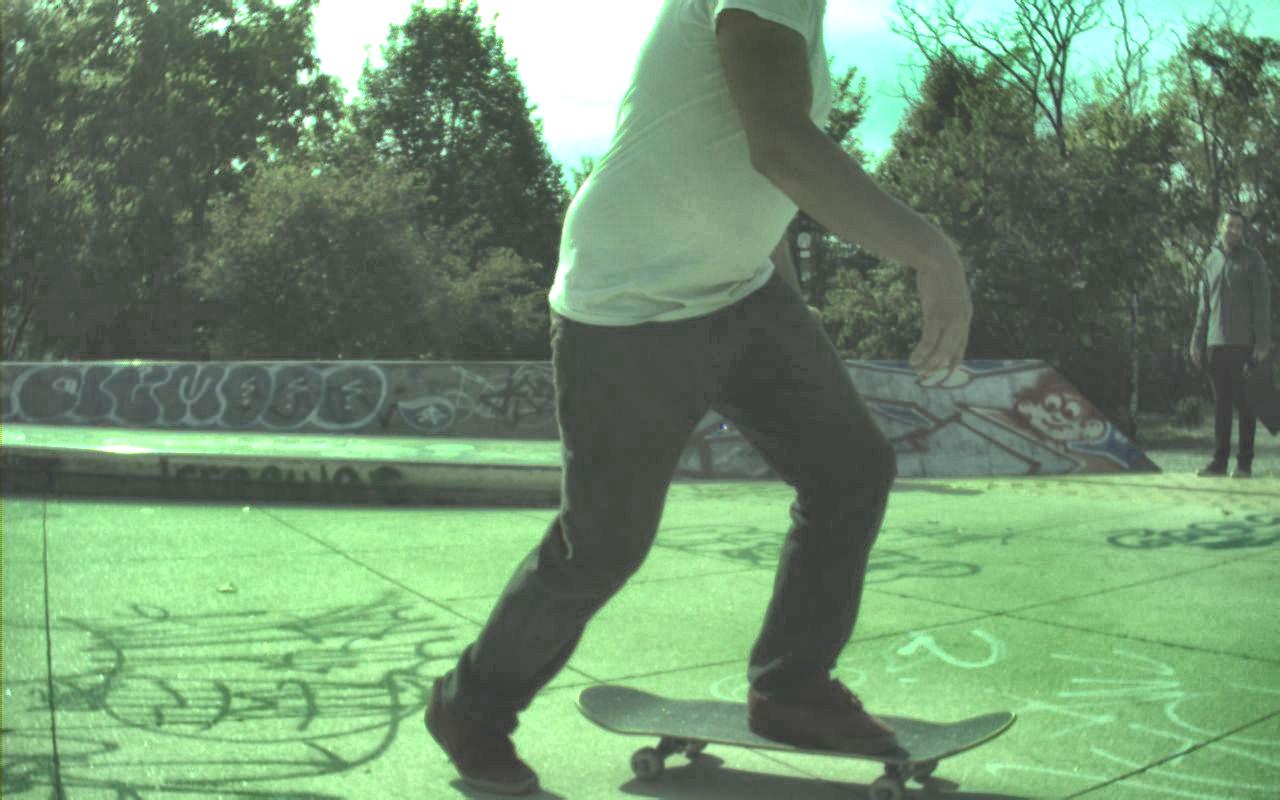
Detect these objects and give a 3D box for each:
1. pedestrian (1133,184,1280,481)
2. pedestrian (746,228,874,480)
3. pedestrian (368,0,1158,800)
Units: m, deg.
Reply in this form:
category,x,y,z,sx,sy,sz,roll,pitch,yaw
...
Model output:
category,x,y,z,sx,sy,sz,roll,pitch,yaw
pedestrian,3.730,-0.401,7.370,0.851,1.775,0.841,0,0,-20
pedestrian,1.105,-0.293,8.104,0.787,1.550,0.757,0,0,8
pedestrian,0.176,0.163,1.798,0.853,1.751,0.913,0,0,-39
